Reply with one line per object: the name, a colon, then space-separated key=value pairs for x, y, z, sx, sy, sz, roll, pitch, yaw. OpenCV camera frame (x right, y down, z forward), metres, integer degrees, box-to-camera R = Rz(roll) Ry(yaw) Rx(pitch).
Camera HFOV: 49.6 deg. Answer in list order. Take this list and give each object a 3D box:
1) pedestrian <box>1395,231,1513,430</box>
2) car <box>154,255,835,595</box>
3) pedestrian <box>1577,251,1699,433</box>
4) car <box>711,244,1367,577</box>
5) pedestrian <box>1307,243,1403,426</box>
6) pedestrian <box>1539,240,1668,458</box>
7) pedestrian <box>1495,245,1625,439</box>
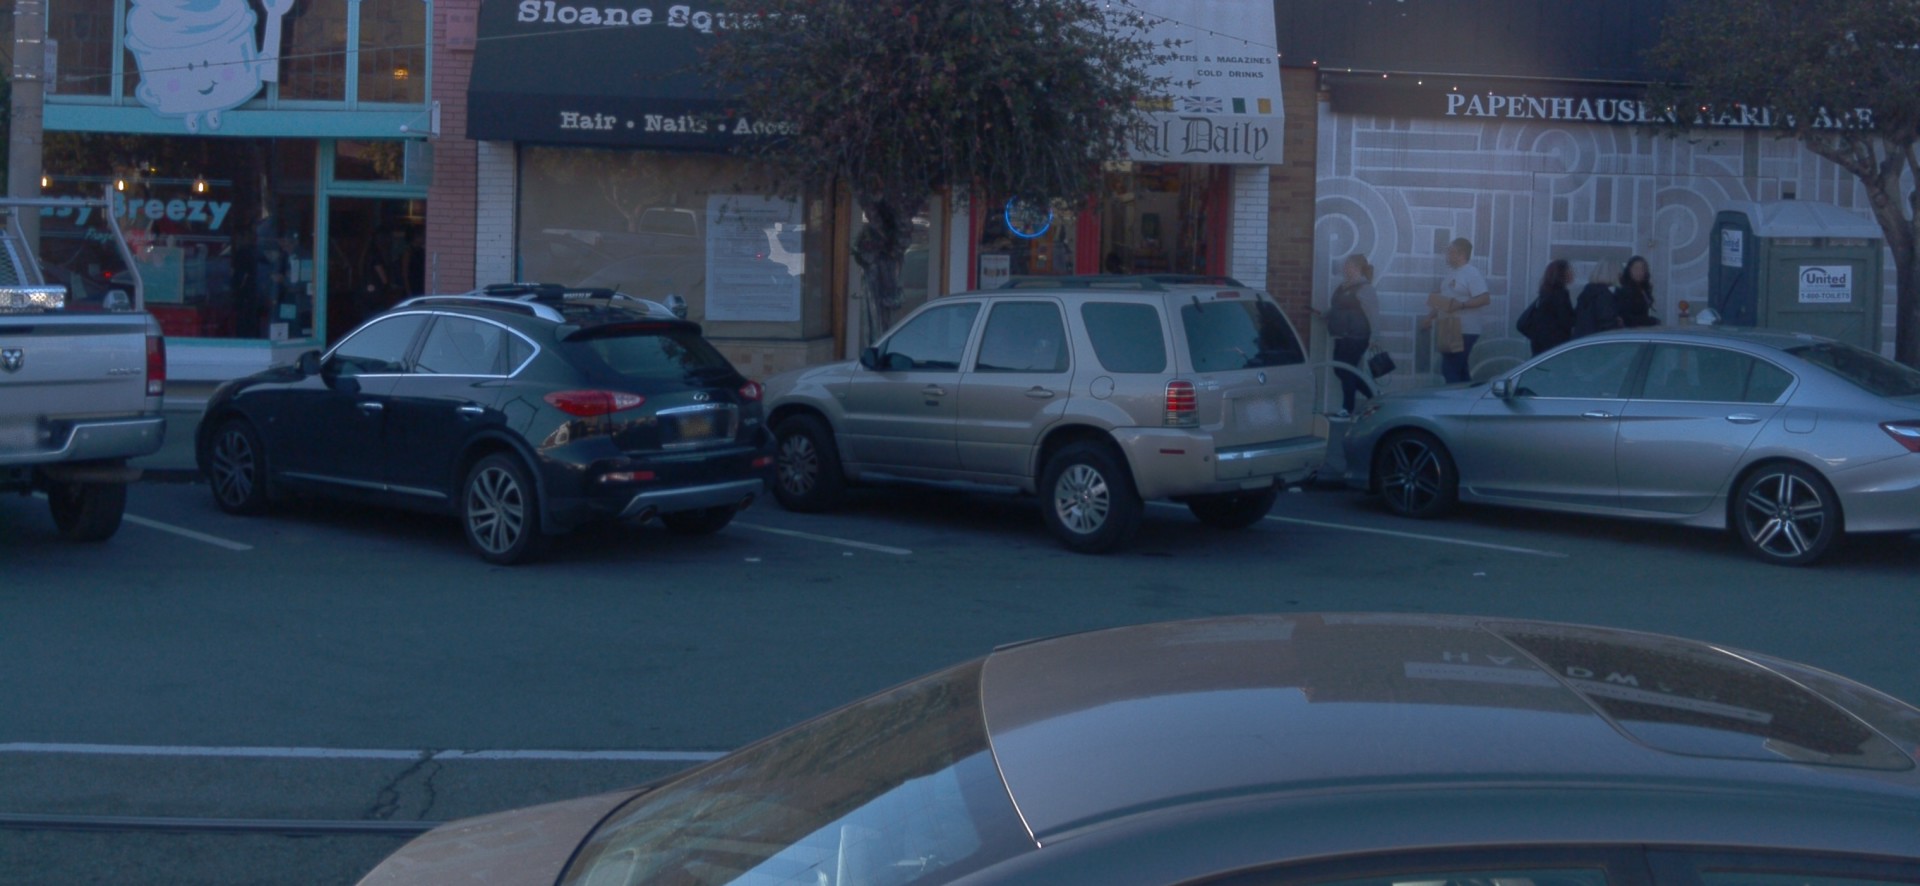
pedestrian: x=4.655 y=-1.081 z=19.607 sx=0.735 sy=1.816 sz=0.917 roll=0 pitch=2 yaw=-14
car: x=-3.244 y=-0.302 z=14.038 sx=4.523 sy=1.793 sz=2.116 roll=5 pitch=6 yaw=39
pedestrian: x=6.309 y=-0.955 z=19.343 sx=0.835 sy=1.637 sz=0.718 roll=1 pitch=2 yaw=-7
car: x=0.451 y=-0.402 z=14.617 sx=4.242 sy=1.893 sz=2.079 roll=6 pitch=6 yaw=42
pedestrian: x=3.777 y=-1.052 z=19.884 sx=0.715 sy=1.707 sz=0.691 roll=1 pitch=2 yaw=-6
pedestrian: x=5.699 y=-0.855 z=18.428 sx=0.771 sy=1.866 sz=0.910 roll=1 pitch=2 yaw=-6
pedestrian: x=5.536 y=-0.950 z=19.203 sx=0.899 sy=1.737 sz=0.801 roll=1 pitch=2 yaw=-6
